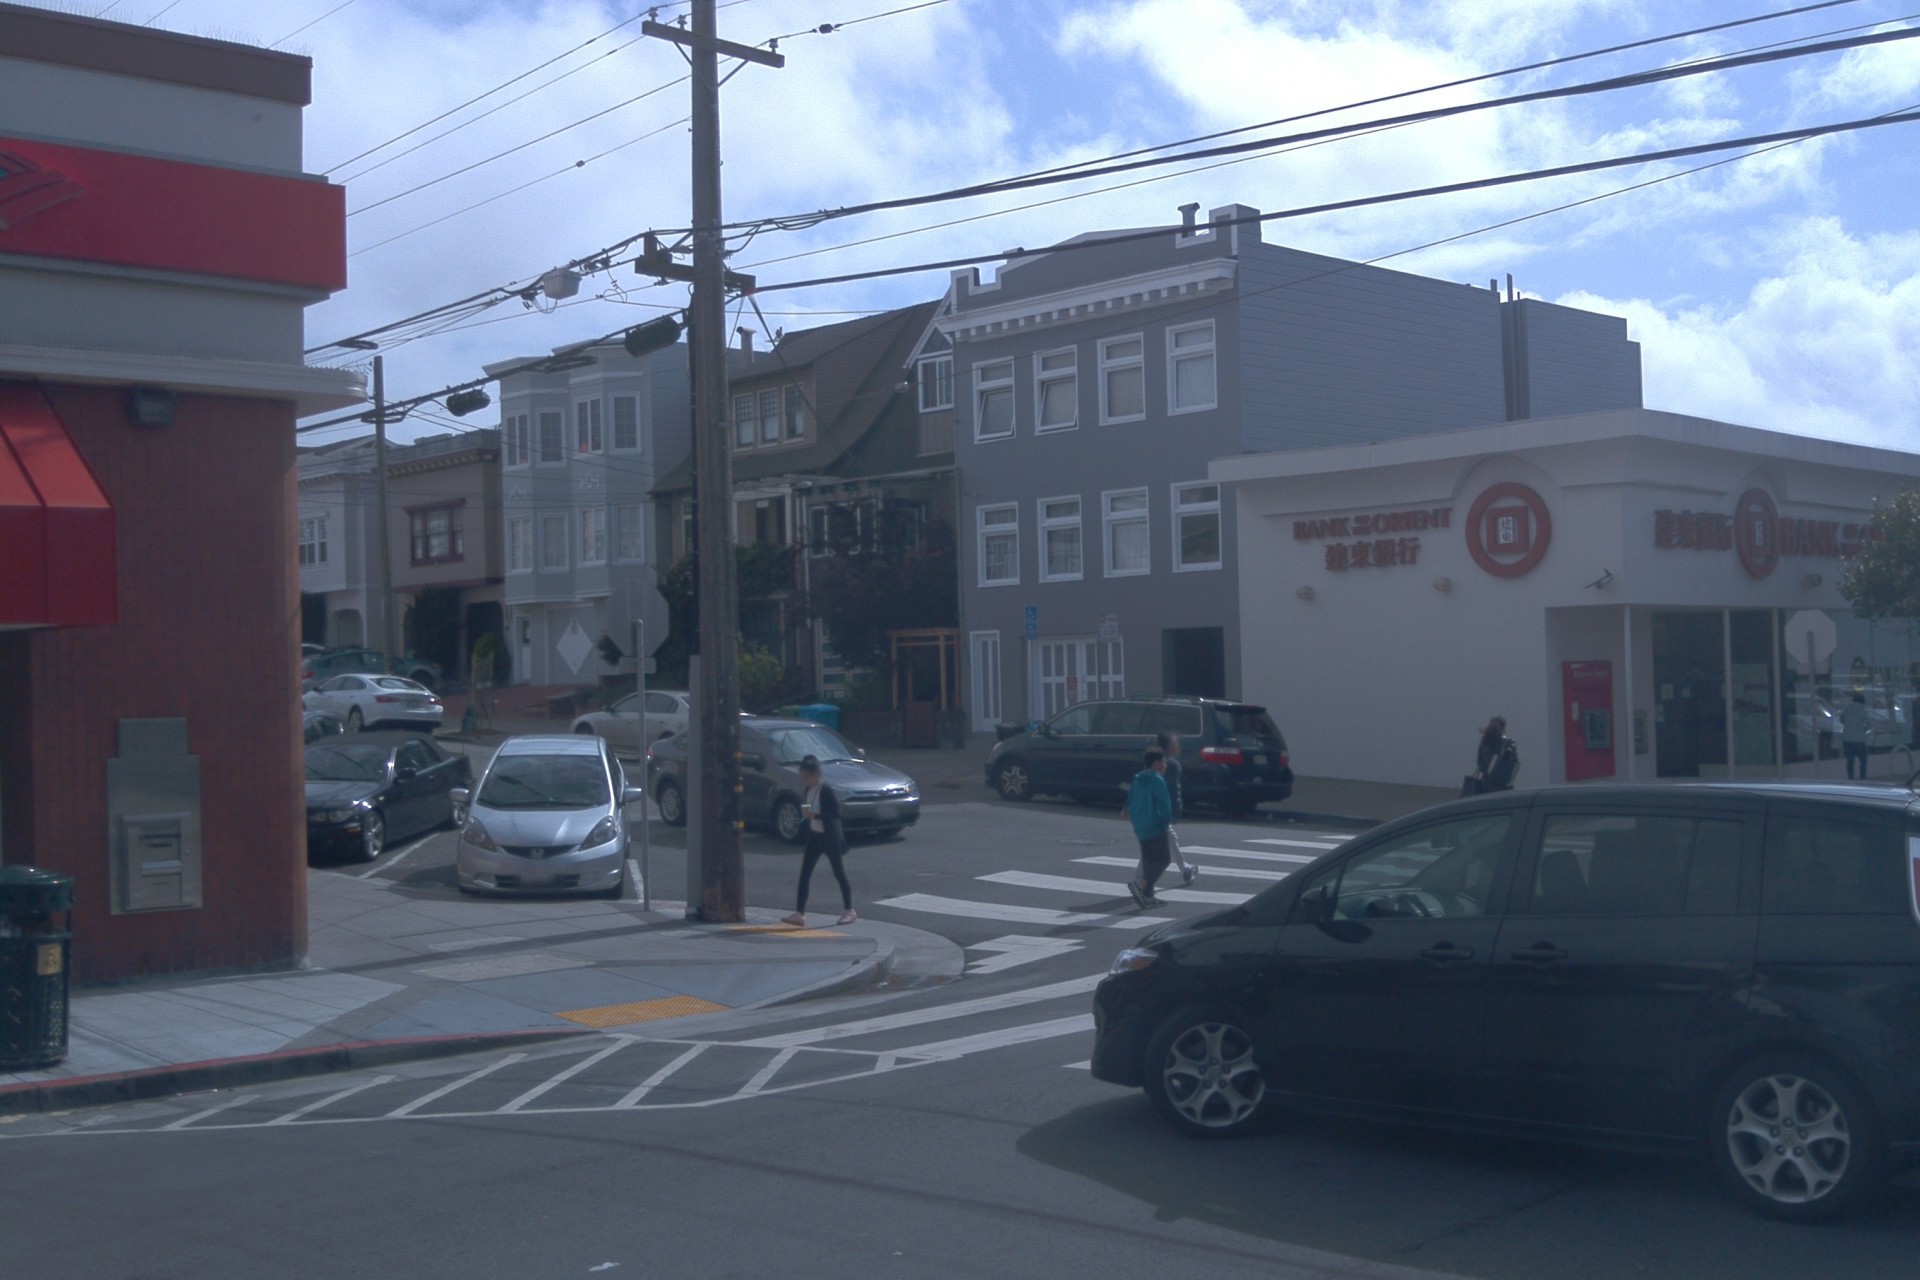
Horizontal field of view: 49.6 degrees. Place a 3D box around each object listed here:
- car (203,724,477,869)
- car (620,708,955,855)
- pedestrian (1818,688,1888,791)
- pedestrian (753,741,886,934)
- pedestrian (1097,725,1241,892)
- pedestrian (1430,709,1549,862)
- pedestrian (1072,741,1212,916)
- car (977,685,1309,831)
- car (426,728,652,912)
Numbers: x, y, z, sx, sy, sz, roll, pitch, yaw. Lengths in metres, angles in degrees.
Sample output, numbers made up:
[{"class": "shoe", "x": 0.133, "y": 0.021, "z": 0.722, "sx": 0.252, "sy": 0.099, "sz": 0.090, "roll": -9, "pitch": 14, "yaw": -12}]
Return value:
[{"class": "car", "x": -7.569, "y": 1.869, "z": 25.843, "sx": 1.823, "sy": 1.481, "sz": 4.202, "roll": 0, "pitch": 0, "yaw": 5}, {"class": "car", "x": -2.307, "y": 1.751, "z": 26.908, "sx": 2.068, "sy": 1.587, "sz": 4.401, "roll": 0, "pitch": 0, "yaw": -42}, {"class": "pedestrian", "x": 14.772, "y": 1.629, "z": 34.388, "sx": 0.780, "sy": 1.643, "sz": 0.943, "roll": 0, "pitch": 0, "yaw": 44}, {"class": "pedestrian", "x": -1.339, "y": 1.858, "z": 19.841, "sx": 0.763, "sy": 1.722, "sz": 1.014, "roll": 0, "pitch": 0, "yaw": 44}, {"class": "pedestrian", "x": 2.104, "y": 1.669, "z": 20.922, "sx": 1.302, "sy": 1.566, "sz": 0.766, "roll": 0, "pitch": 0, "yaw": -42}, {"class": "pedestrian", "x": 6.074, "y": 1.644, "z": 23.855, "sx": 0.985, "sy": 1.653, "sz": 0.948, "roll": 0, "pitch": 0, "yaw": 43}, {"class": "pedestrian", "x": 1.713, "y": 1.745, "z": 19.566, "sx": 1.131, "sy": 1.532, "sz": 0.720, "roll": 0, "pitch": 0, "yaw": -40}, {"class": "car", "x": 2.698, "y": 1.695, "z": 31.492, "sx": 2.133, "sy": 1.937, "sz": 4.769, "roll": 0, "pitch": 0, "yaw": -44}, {"class": "car", "x": -4.512, "y": 1.881, "z": 22.902, "sx": 2.094, "sy": 1.641, "sz": 4.189, "roll": 0, "pitch": 0, "yaw": -7}]
